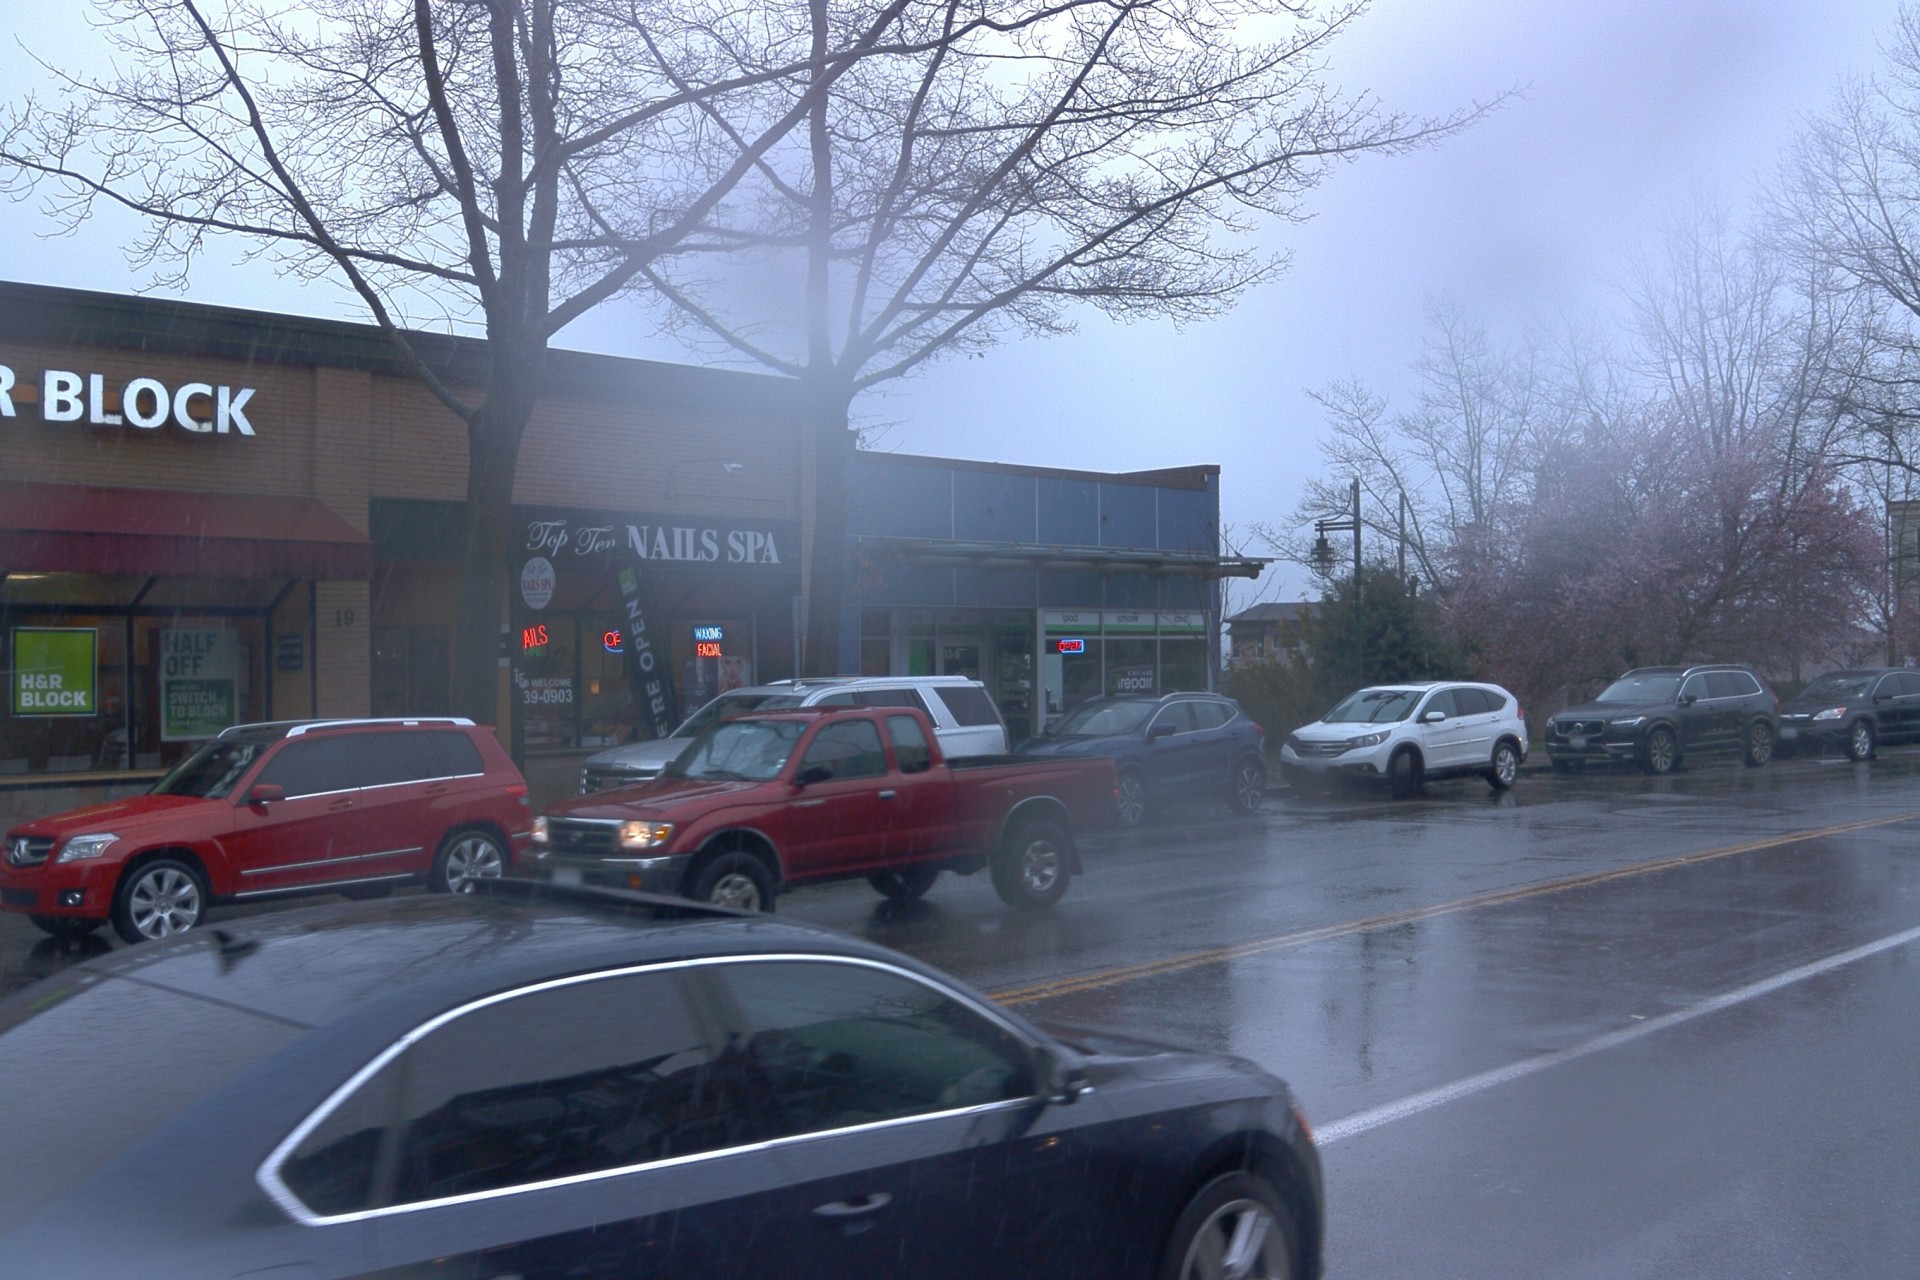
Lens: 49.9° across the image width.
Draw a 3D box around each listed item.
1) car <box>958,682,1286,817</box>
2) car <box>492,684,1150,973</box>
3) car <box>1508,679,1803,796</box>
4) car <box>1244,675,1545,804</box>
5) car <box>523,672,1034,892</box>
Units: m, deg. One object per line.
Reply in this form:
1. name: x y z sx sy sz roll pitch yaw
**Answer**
1. car: 2.131 1.311 26.112 1.999 1.400 4.335 1 1 40
2. car: -0.911 1.312 16.273 1.929 1.750 5.184 1 1 45
3. car: 11.835 1.587 34.980 5.296 1.690 2.144 -1 1 -38
4. car: 6.465 1.395 30.473 4.481 1.610 2.181 -1 1 -44
5. car: -1.773 1.360 21.836 2.331 1.890 5.194 1 1 42
